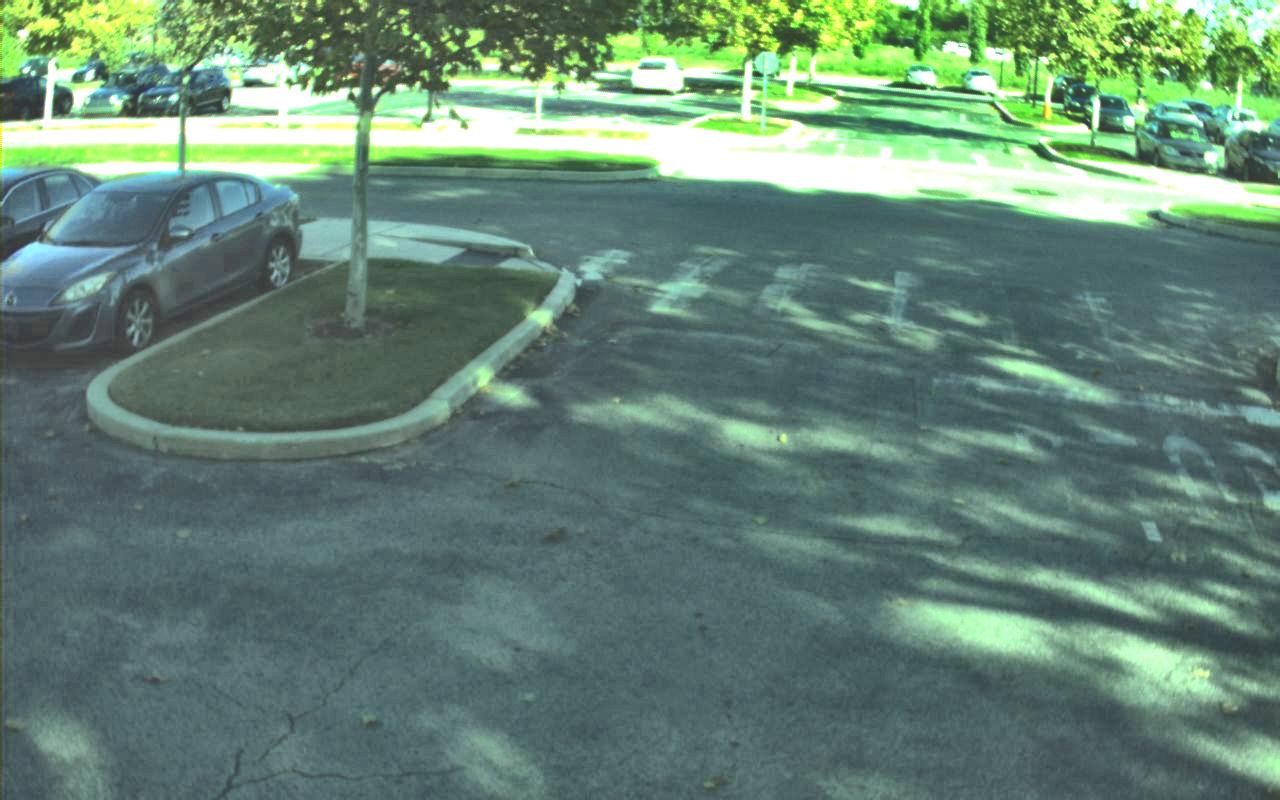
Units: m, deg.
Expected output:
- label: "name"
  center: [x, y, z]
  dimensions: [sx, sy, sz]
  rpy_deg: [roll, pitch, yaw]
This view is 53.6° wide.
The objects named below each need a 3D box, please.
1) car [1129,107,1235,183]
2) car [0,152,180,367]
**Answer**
- label: "car"
  center: [15.542, -7.319, 33.112]
  dimensions: [1.995, 1.634, 4.566]
  rpy_deg: [1, 17, 7]
- label: "car"
  center: [-7.344, -1.718, 12.839]
  dimensions: [1.931, 1.551, 4.465]
  rpy_deg: [4, 17, 17]
